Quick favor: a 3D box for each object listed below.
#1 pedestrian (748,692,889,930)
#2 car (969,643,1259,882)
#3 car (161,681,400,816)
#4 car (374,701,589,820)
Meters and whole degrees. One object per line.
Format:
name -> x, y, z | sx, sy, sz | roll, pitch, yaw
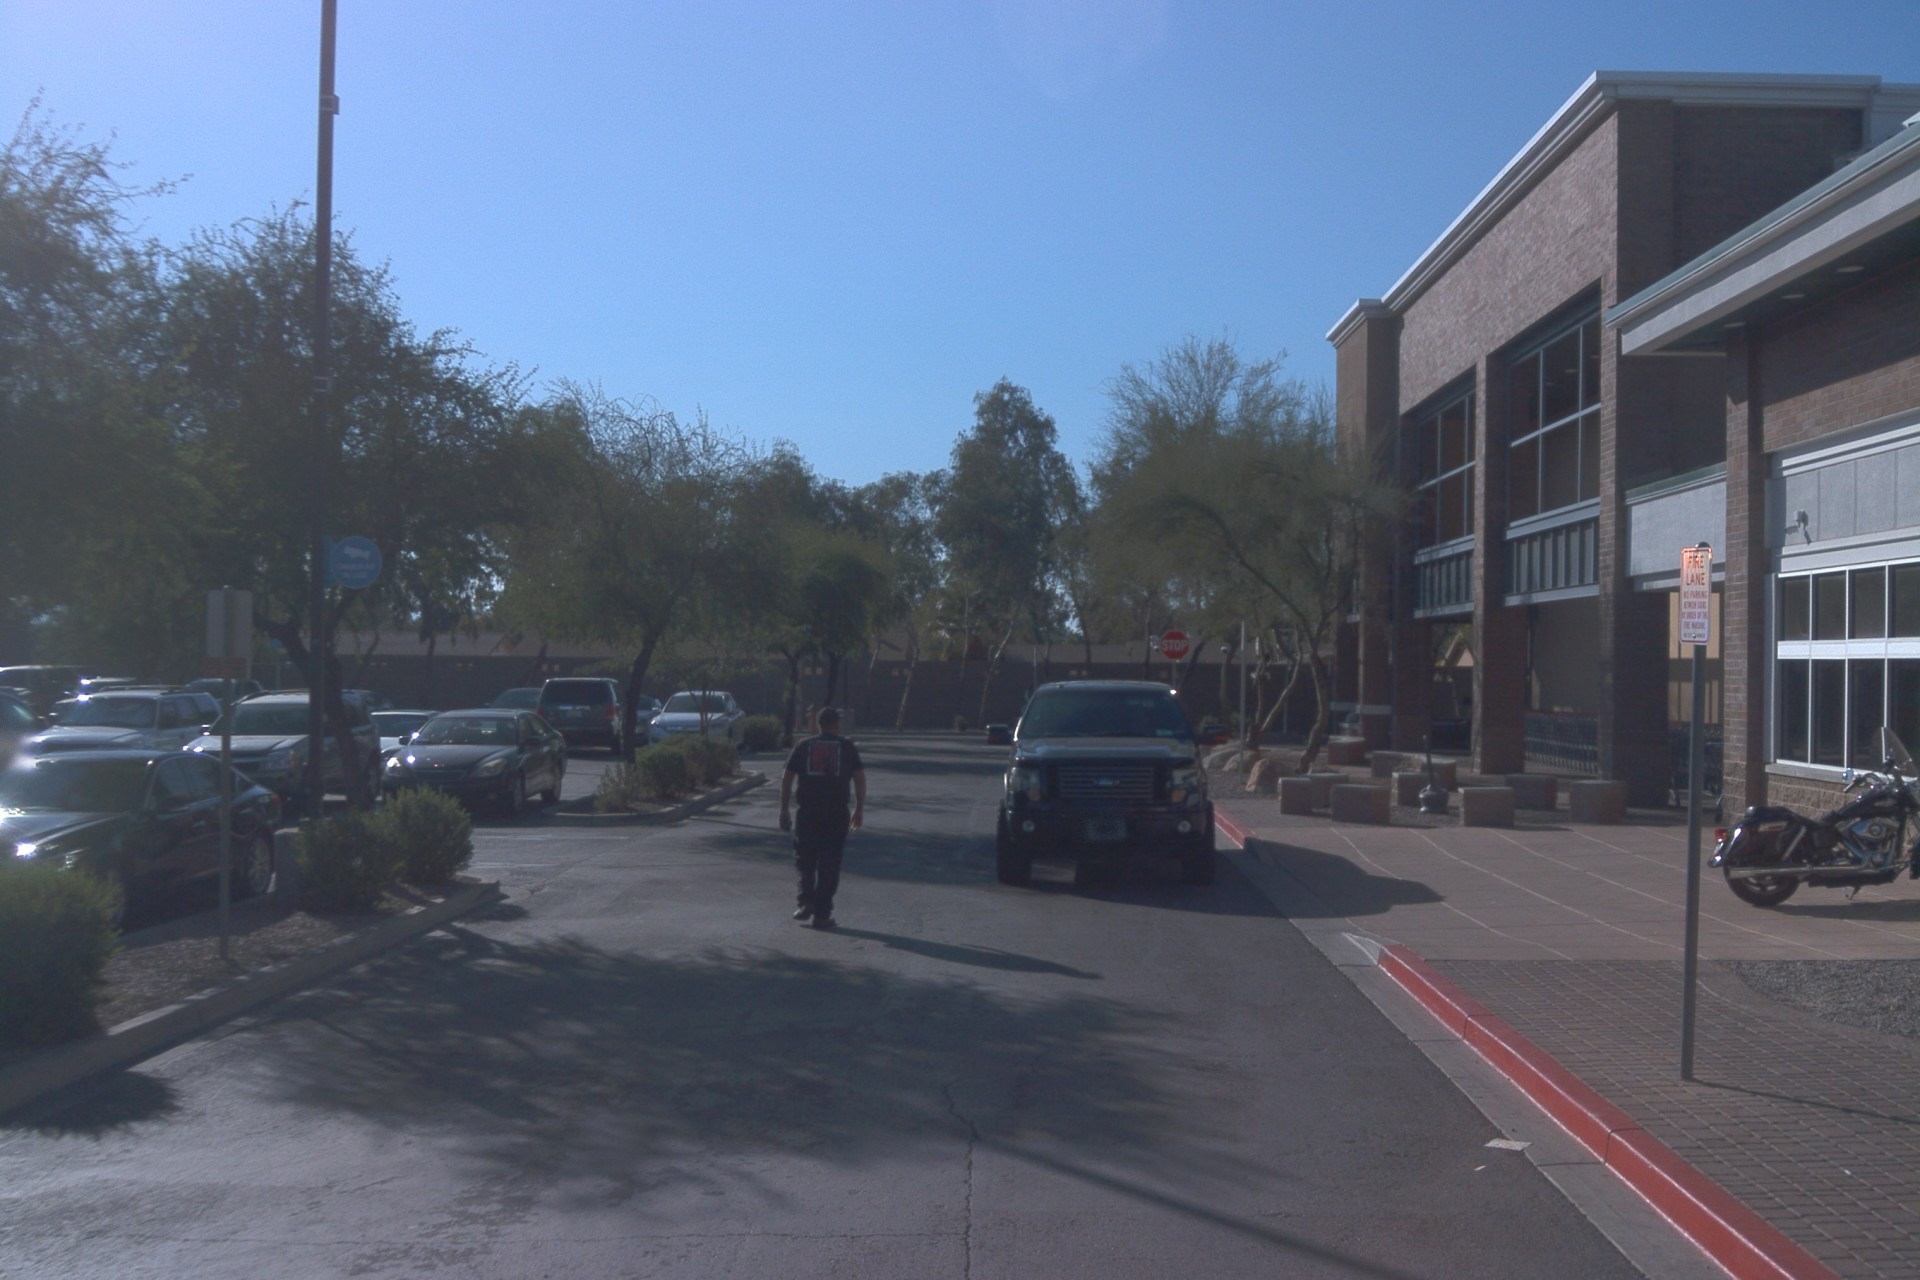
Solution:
pedestrian -> -1.140, 1.364, 16.995 | 1.076, 1.870, 1.183 | -1, -1, -1
car -> 1.515, 1.199, 22.021 | 2.655, 2.190, 5.664 | -1, -1, 2
car -> -9.801, 1.522, 30.326 | 1.886, 1.820, 4.571 | -1, -1, 2
car -> -6.872, 1.693, 30.301 | 1.931, 1.560, 4.779 | -1, -1, 1
